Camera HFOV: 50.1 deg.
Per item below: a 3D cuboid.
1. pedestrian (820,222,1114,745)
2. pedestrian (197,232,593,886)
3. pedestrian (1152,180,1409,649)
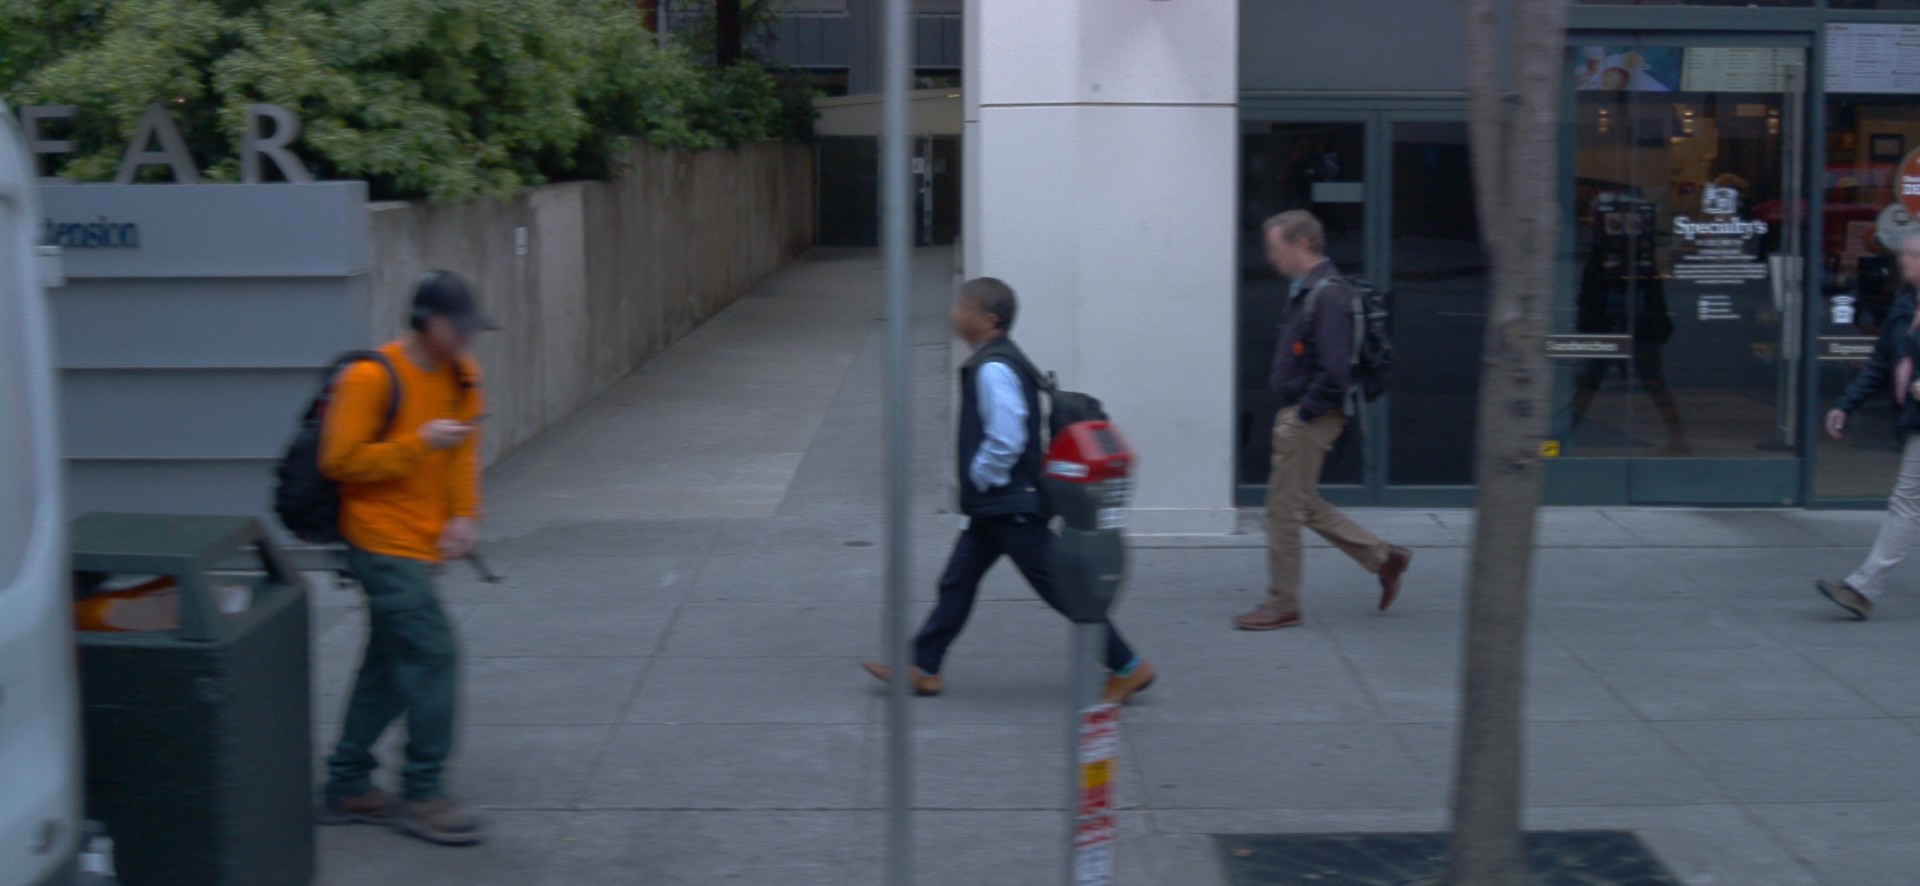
[{"bbox_3d":[0.045,0.094,7.562,1.017,1.803,0.895,0,1,3],"label":"pedestrian"},{"bbox_3d":[-1.673,0.286,6.242,0.977,1.849,0.881,0,1,-2],"label":"pedestrian"},{"bbox_3d":[1.320,-0.155,8.625,0.986,1.873,0.800,0,1,3],"label":"pedestrian"}]
